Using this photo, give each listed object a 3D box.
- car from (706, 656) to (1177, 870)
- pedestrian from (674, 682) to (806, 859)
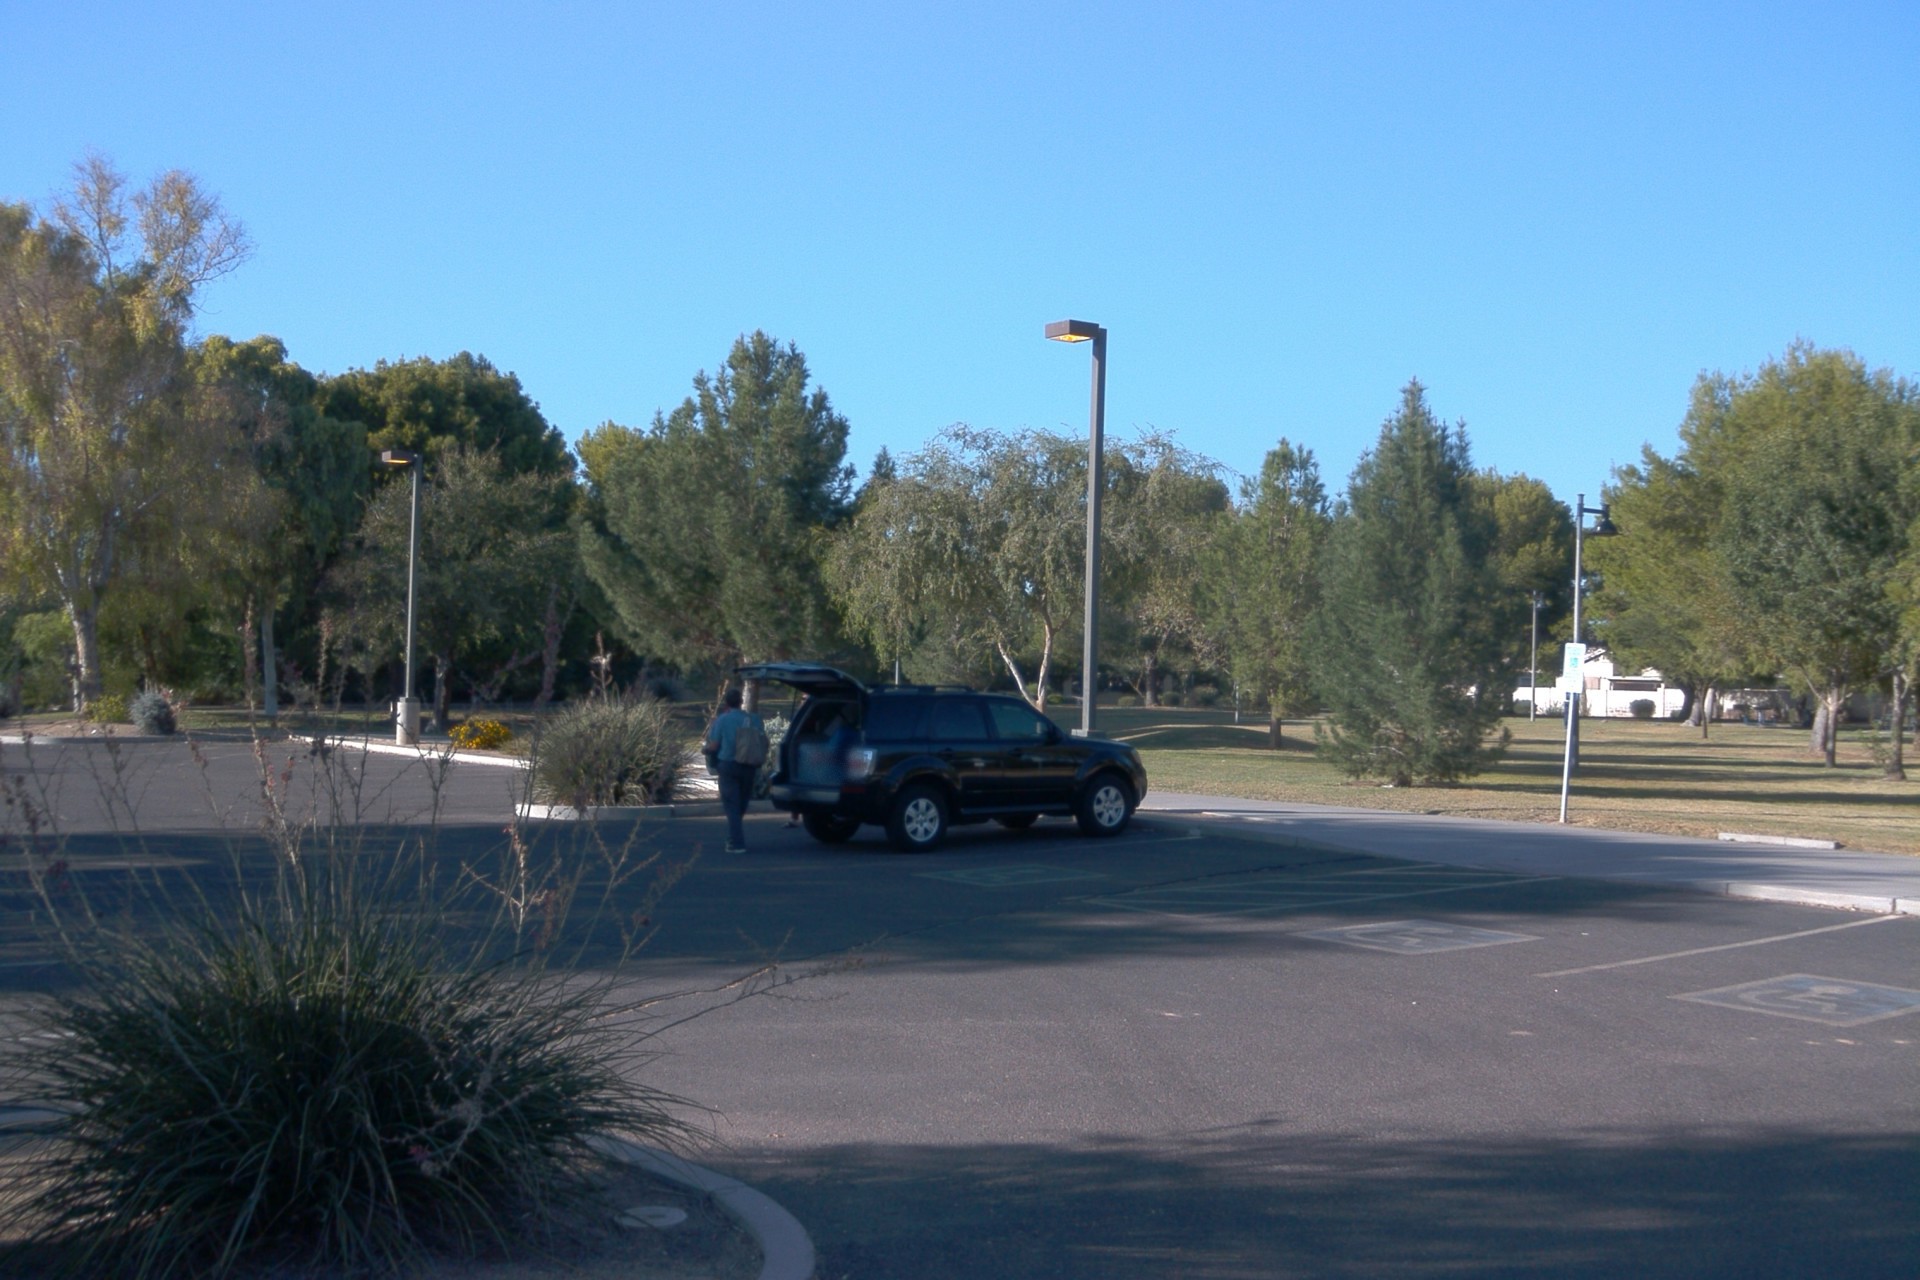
[{"bbox_3d":[-0.134,1.253,22.909,4.898,2.100,2.055,1,0,-37],"label":"car"},{"bbox_3d":[-2.334,1.355,22.012,1.004,1.790,0.996,1,0,-36],"label":"pedestrian"}]
